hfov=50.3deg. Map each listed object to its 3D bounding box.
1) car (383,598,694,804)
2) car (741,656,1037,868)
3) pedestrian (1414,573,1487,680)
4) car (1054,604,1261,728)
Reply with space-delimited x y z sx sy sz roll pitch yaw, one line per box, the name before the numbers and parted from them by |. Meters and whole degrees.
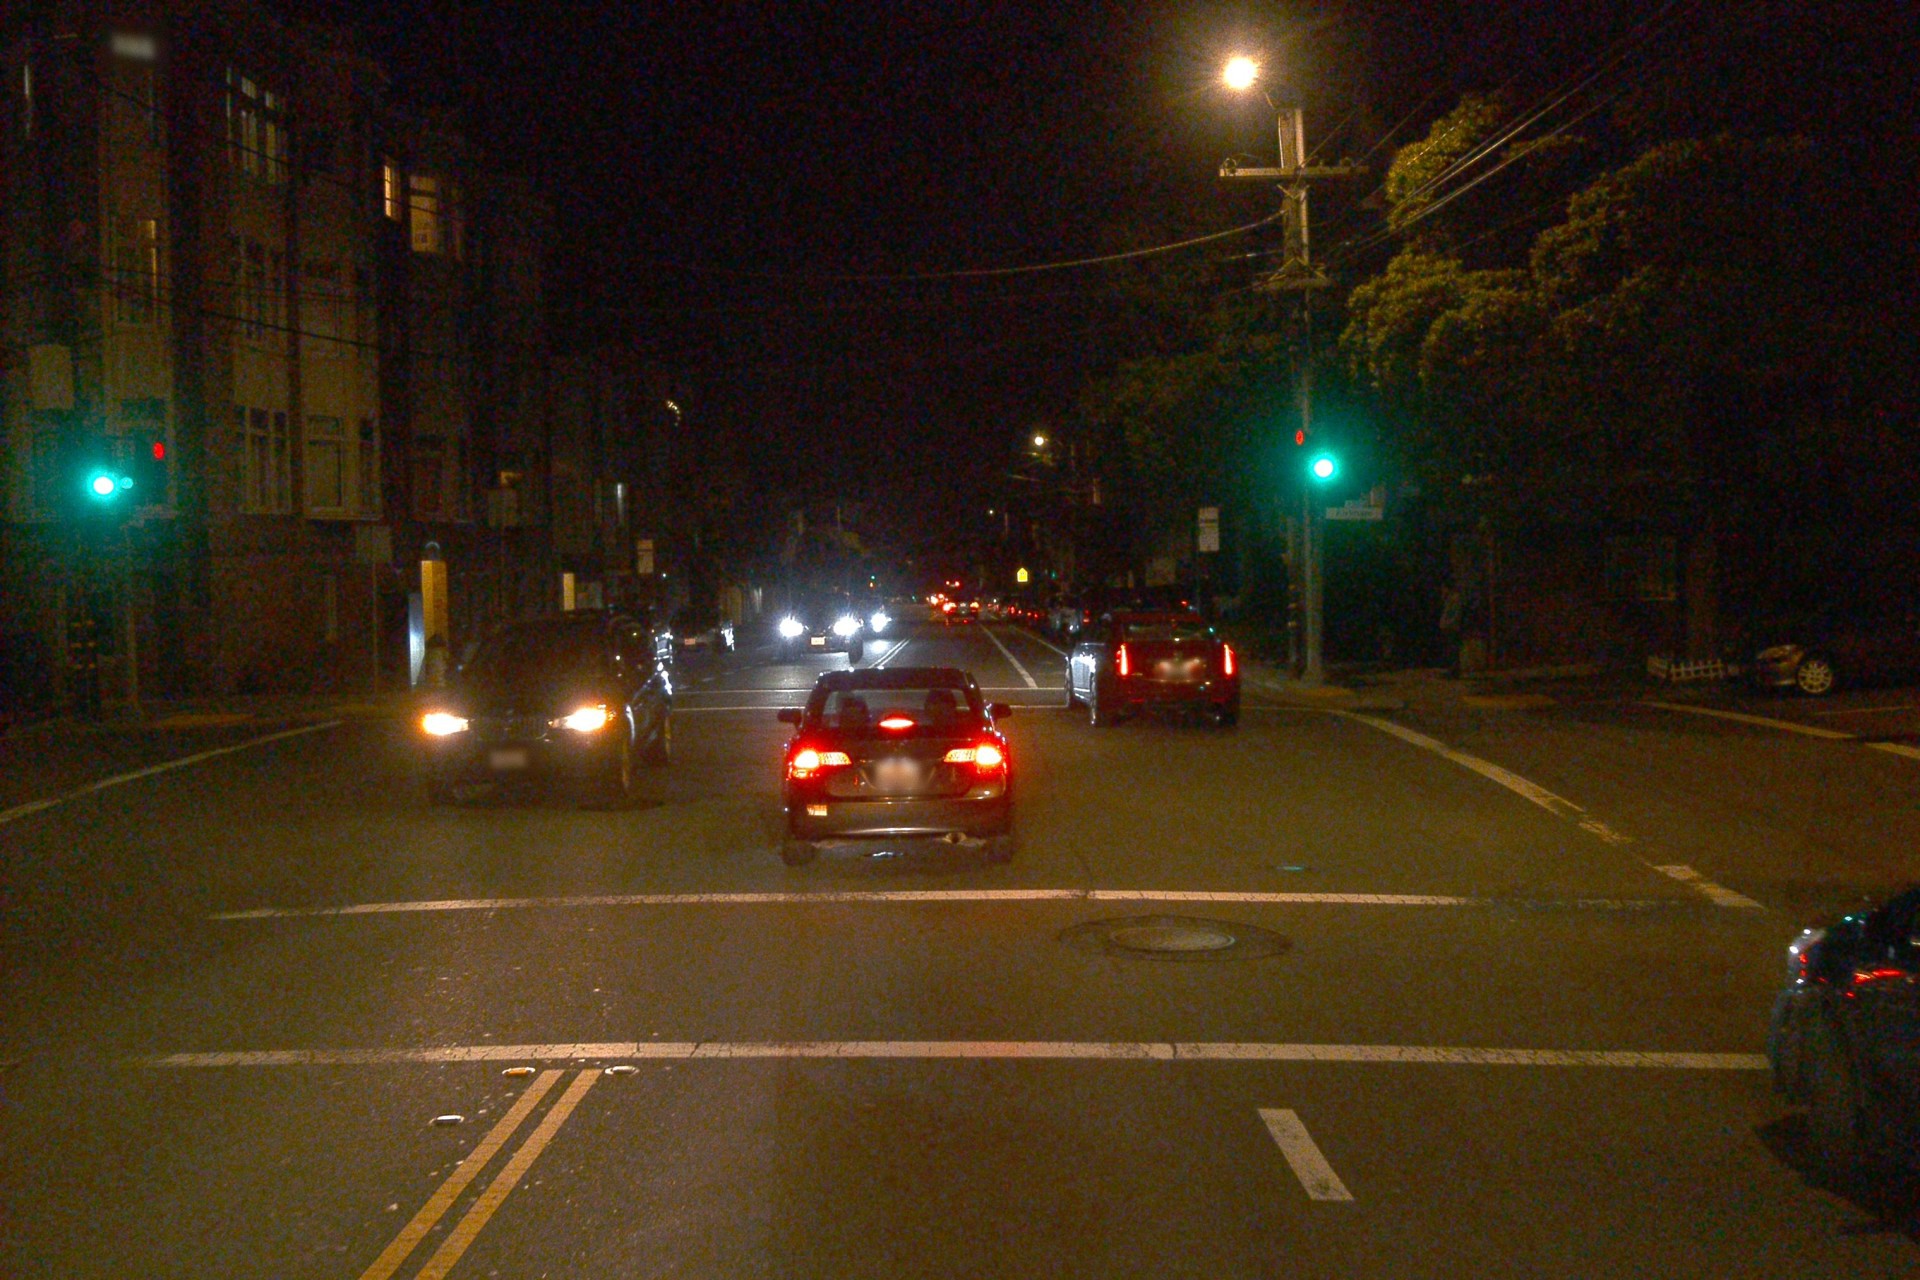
car | -4.060 0.531 20.509 2.145 1.820 4.496 1 0 0
car | -0.519 0.878 16.687 2.070 1.420 4.588 1 0 0
pedestrian | 7.828 -0.212 32.633 0.936 1.691 0.623 0 0 -11
car | 2.505 0.301 27.055 2.066 1.490 4.419 0 0 -3
